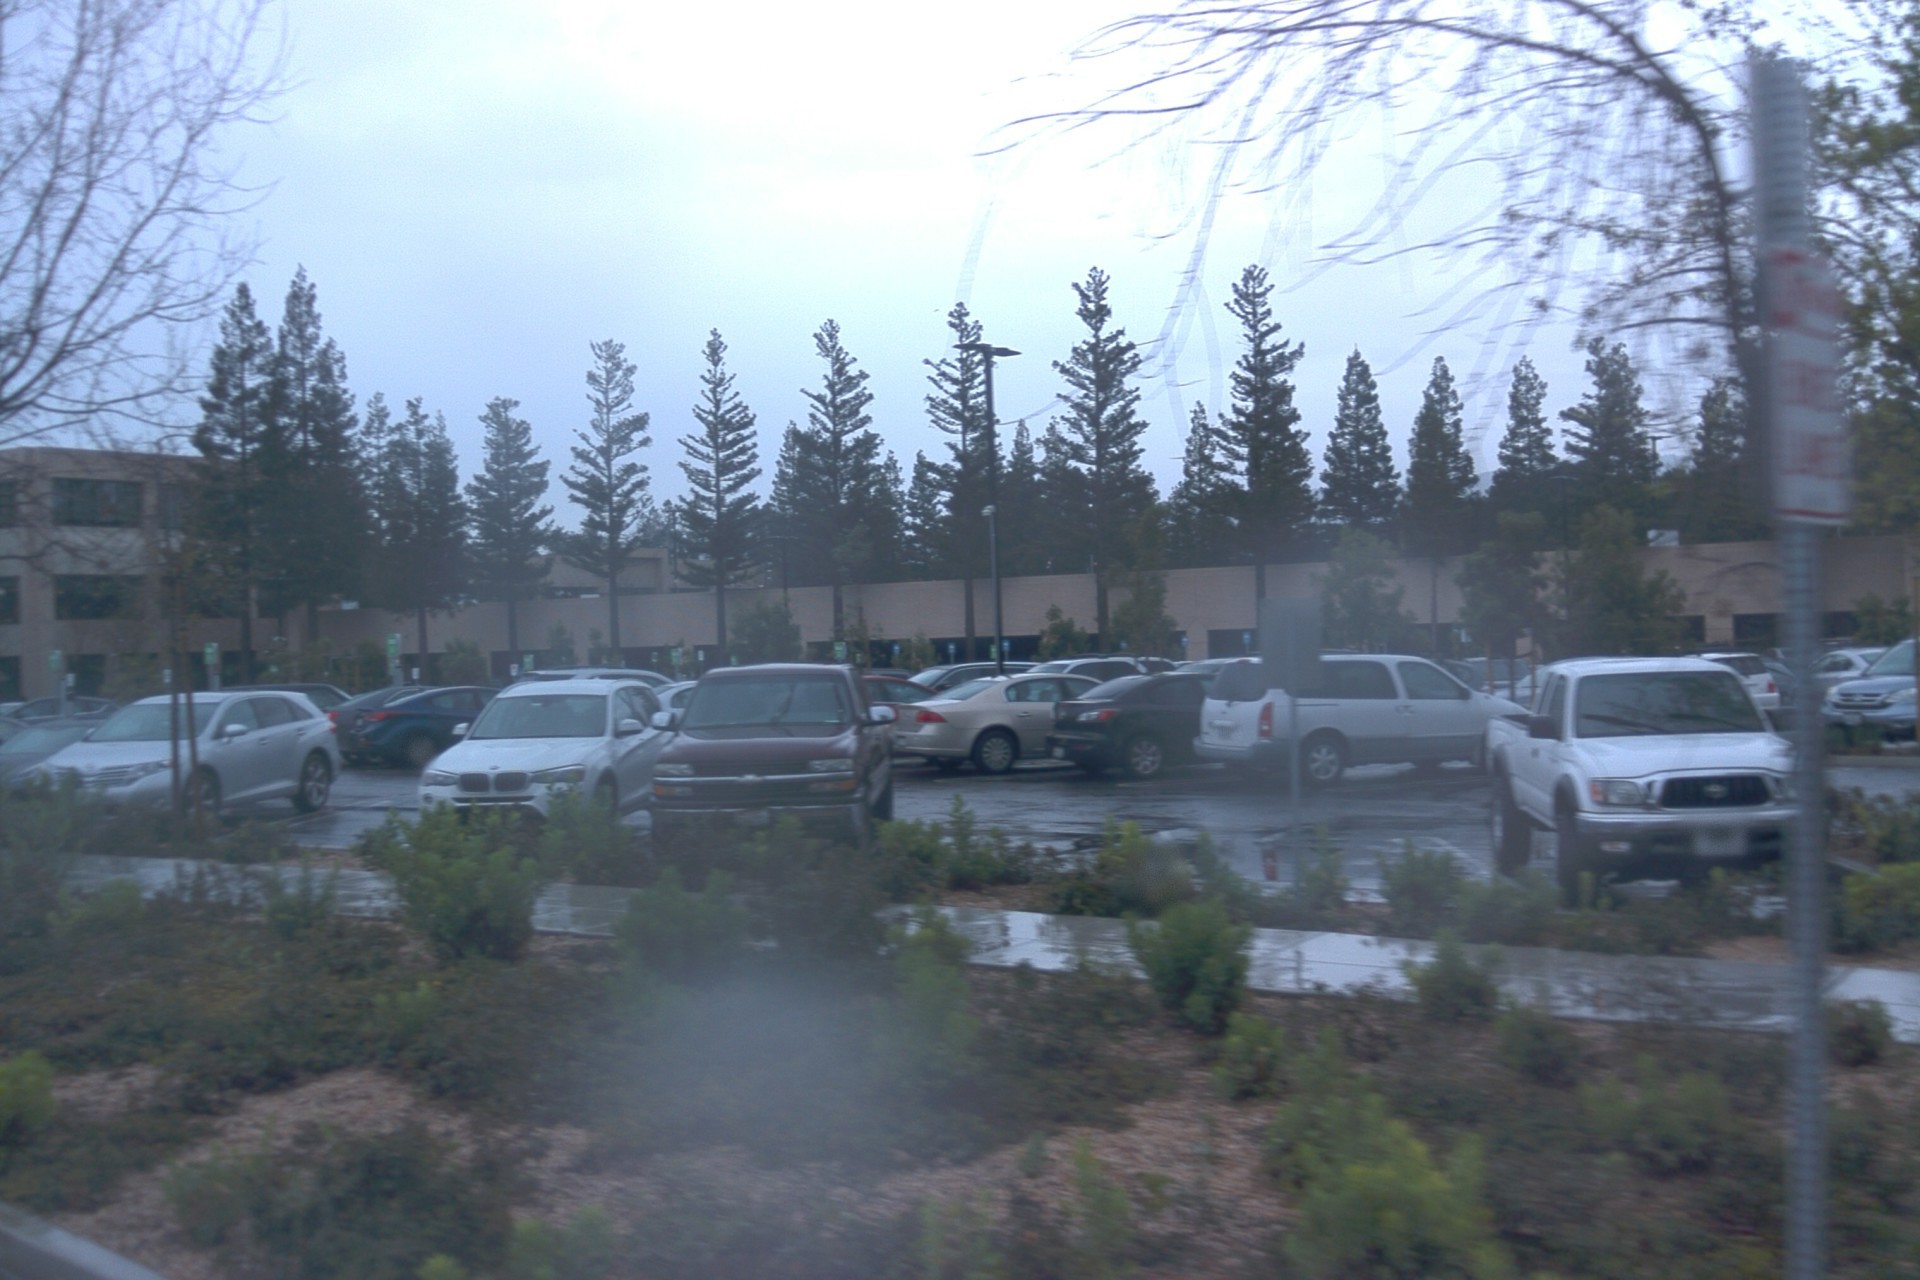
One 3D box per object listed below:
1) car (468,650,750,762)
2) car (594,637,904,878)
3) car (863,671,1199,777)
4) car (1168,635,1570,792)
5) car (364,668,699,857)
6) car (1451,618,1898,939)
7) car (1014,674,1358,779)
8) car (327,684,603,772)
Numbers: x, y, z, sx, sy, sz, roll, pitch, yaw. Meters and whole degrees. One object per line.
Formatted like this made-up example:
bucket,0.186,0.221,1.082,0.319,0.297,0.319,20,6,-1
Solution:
car,-6.136,1.121,36.334,4.496,1.870,2.012,0,-1,-24
car,-1.893,1.046,20.794,2.415,2.070,5.813,0,-1,1
car,1.082,1.228,31.522,4.606,1.500,2.159,0,-1,-26
car,5.468,0.947,27.812,4.884,1.950,2.170,0,-1,-23
car,-4.434,1.207,22.367,2.173,1.810,4.641,0,-1,7
car,5.175,0.913,15.900,2.089,2.040,5.209,0,-1,6
car,3.236,1.192,29.735,4.441,1.410,2.070,0,-1,-24
car,-8.924,1.547,37.538,4.493,1.500,1.969,1,-1,-27
